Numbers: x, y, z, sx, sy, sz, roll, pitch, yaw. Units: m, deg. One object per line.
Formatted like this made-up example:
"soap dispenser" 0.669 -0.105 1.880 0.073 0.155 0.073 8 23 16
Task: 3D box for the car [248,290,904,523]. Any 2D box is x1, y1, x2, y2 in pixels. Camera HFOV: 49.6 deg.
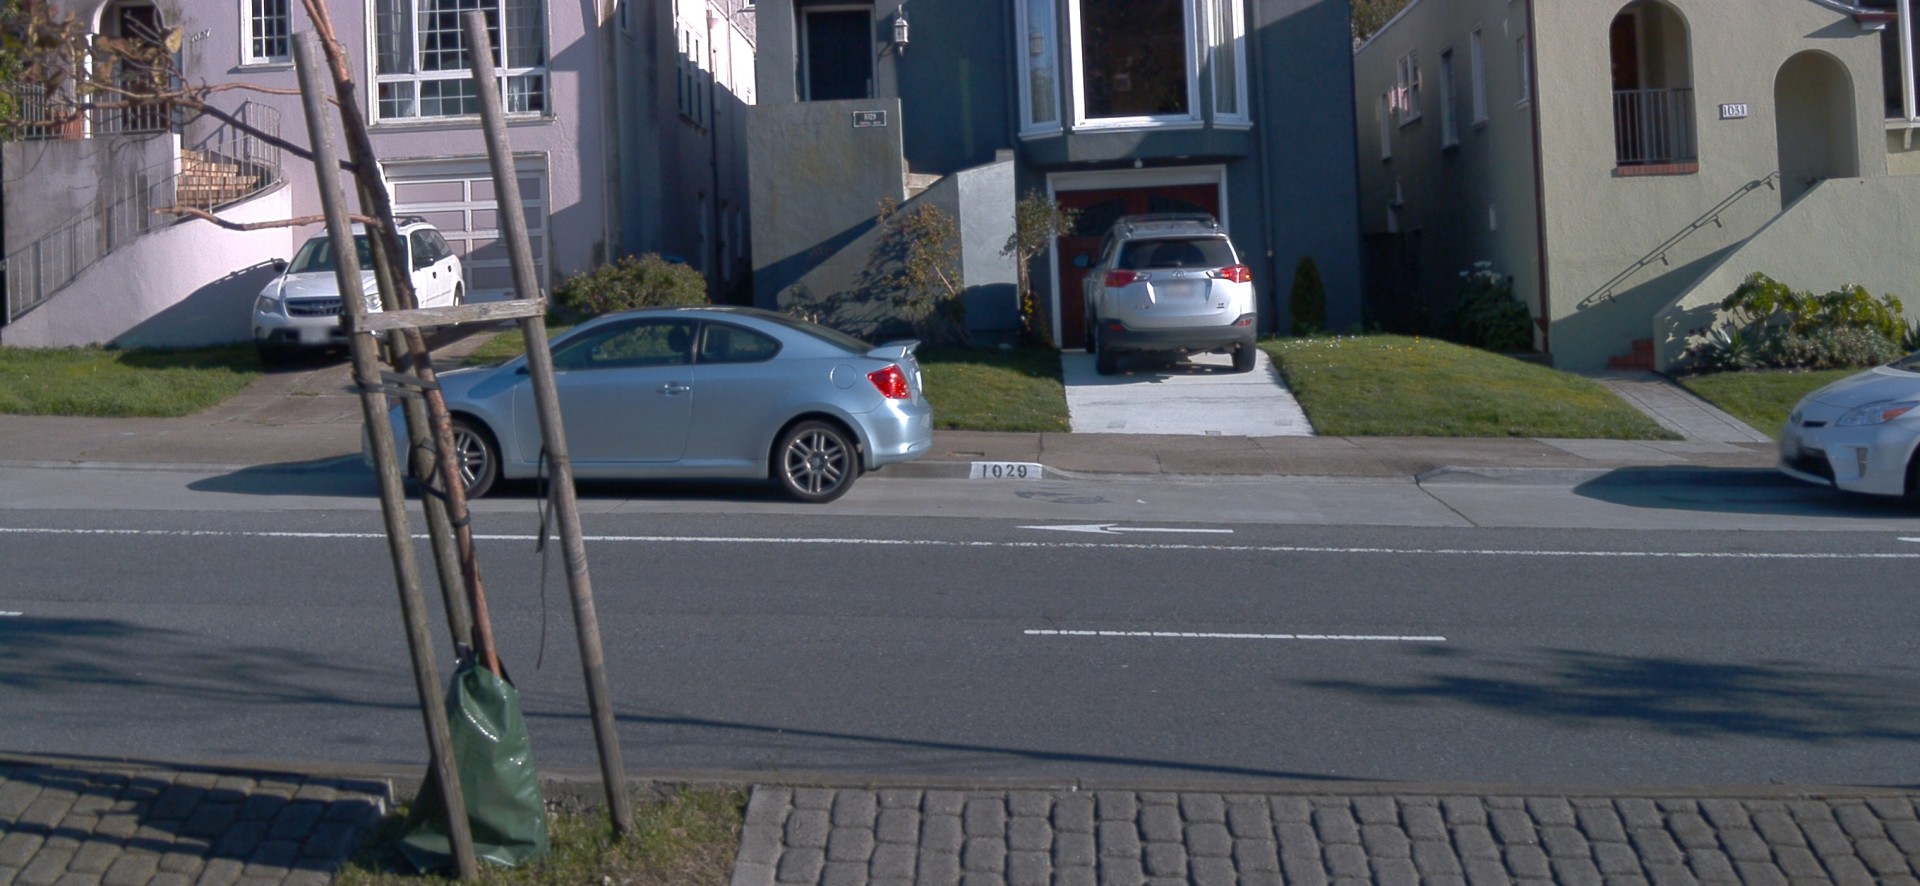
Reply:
"car" -2.727 -0.331 15.520 4.472 1.485 1.921 1 4 1

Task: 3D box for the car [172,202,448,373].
"car" -7.660 -1.960 24.983 1.948 1.821 4.865 1 6 -3

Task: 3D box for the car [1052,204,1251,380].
"car" 2.126 -1.850 24.196 1.909 1.821 4.500 1 6 0
